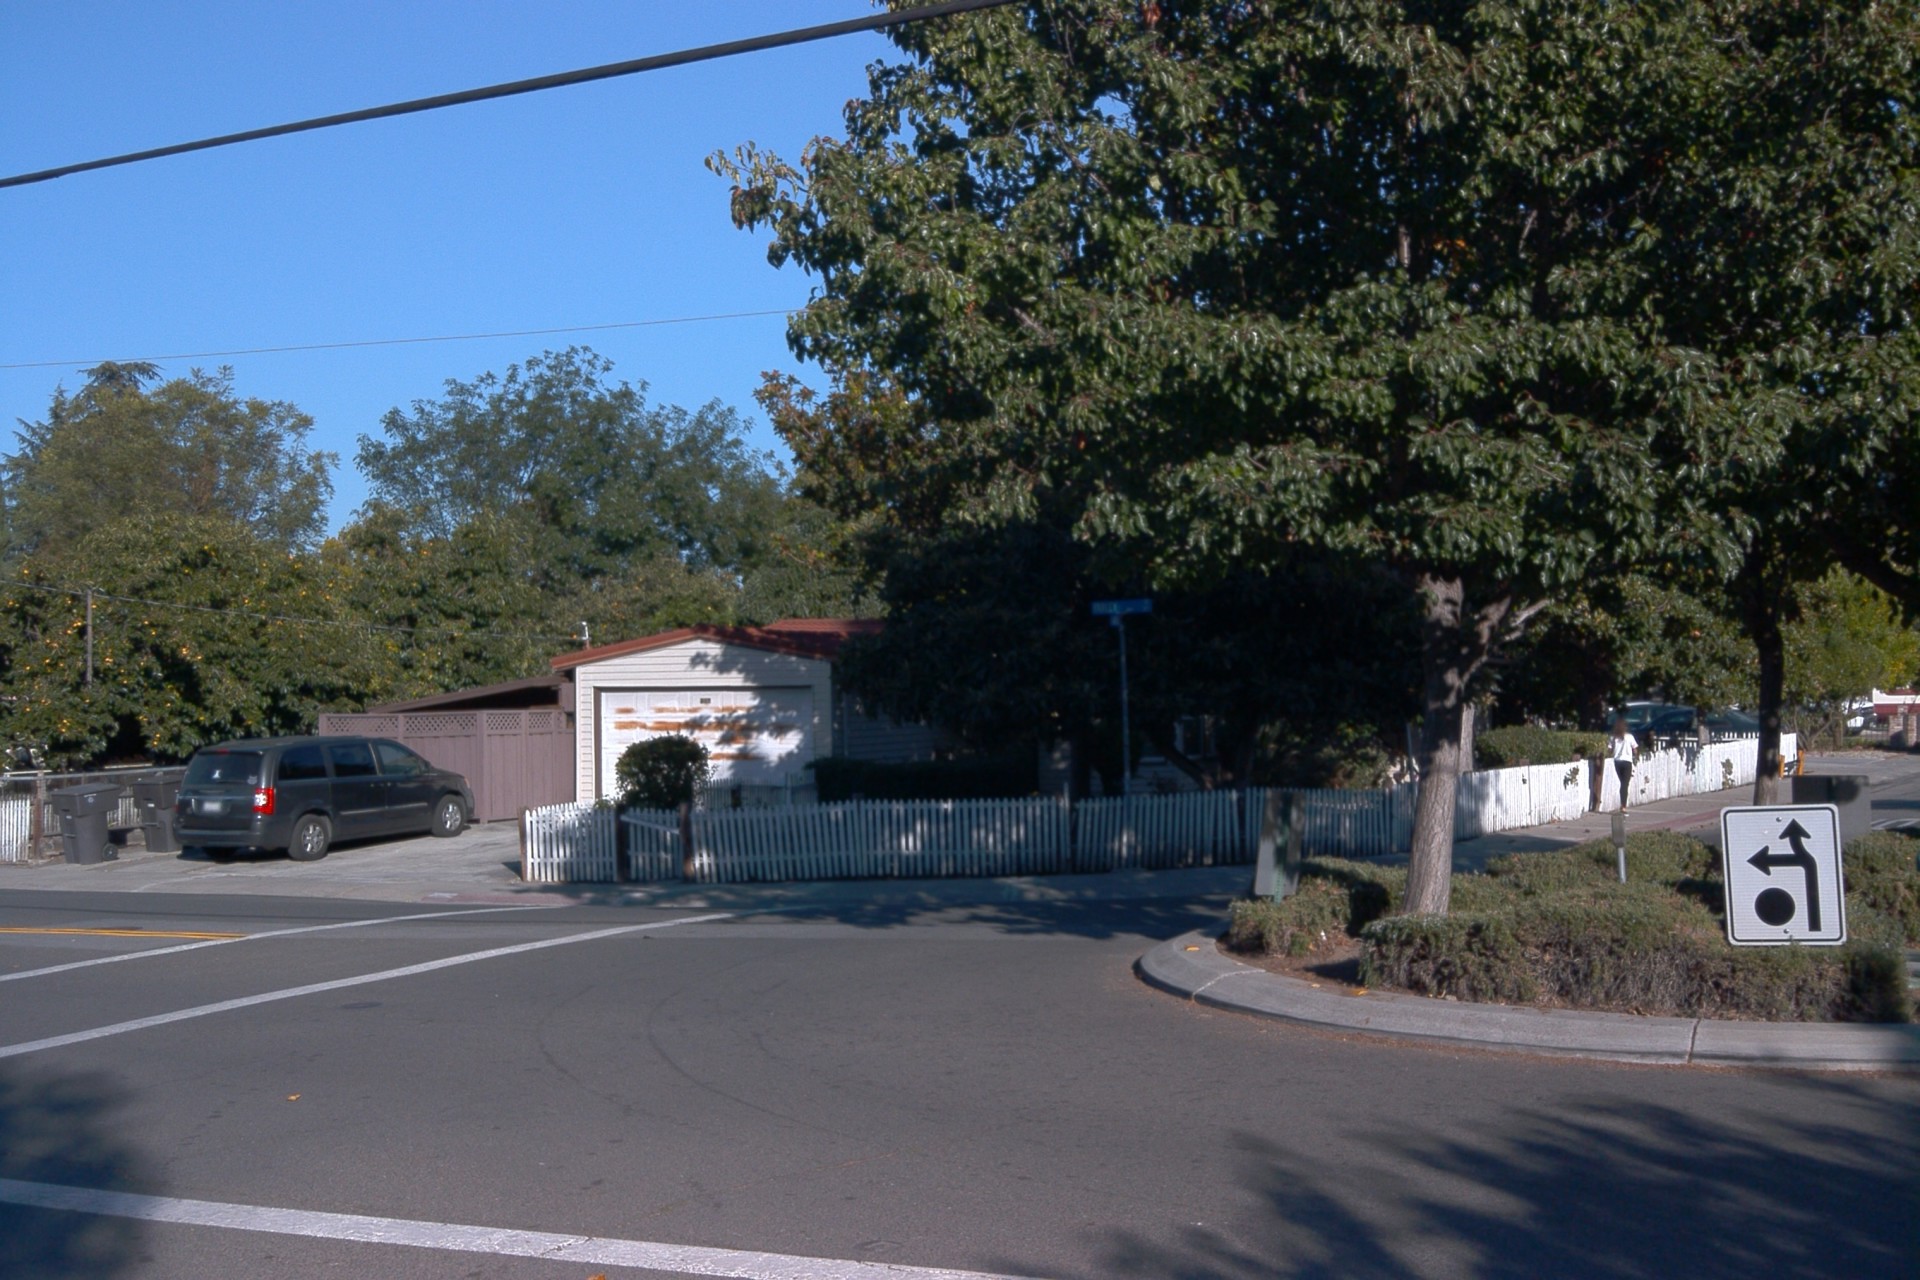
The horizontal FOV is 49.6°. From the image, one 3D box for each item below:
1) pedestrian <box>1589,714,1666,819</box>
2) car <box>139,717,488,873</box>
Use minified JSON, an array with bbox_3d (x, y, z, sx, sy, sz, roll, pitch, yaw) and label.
[{"bbox_3d":[10.614,1.989,33.019,0.836,1.580,1.184,1,0,34],"label":"pedestrian"},{"bbox_3d":[-9.533,2.220,31.125,2.140,1.930,4.988,1,0,25],"label":"car"}]
